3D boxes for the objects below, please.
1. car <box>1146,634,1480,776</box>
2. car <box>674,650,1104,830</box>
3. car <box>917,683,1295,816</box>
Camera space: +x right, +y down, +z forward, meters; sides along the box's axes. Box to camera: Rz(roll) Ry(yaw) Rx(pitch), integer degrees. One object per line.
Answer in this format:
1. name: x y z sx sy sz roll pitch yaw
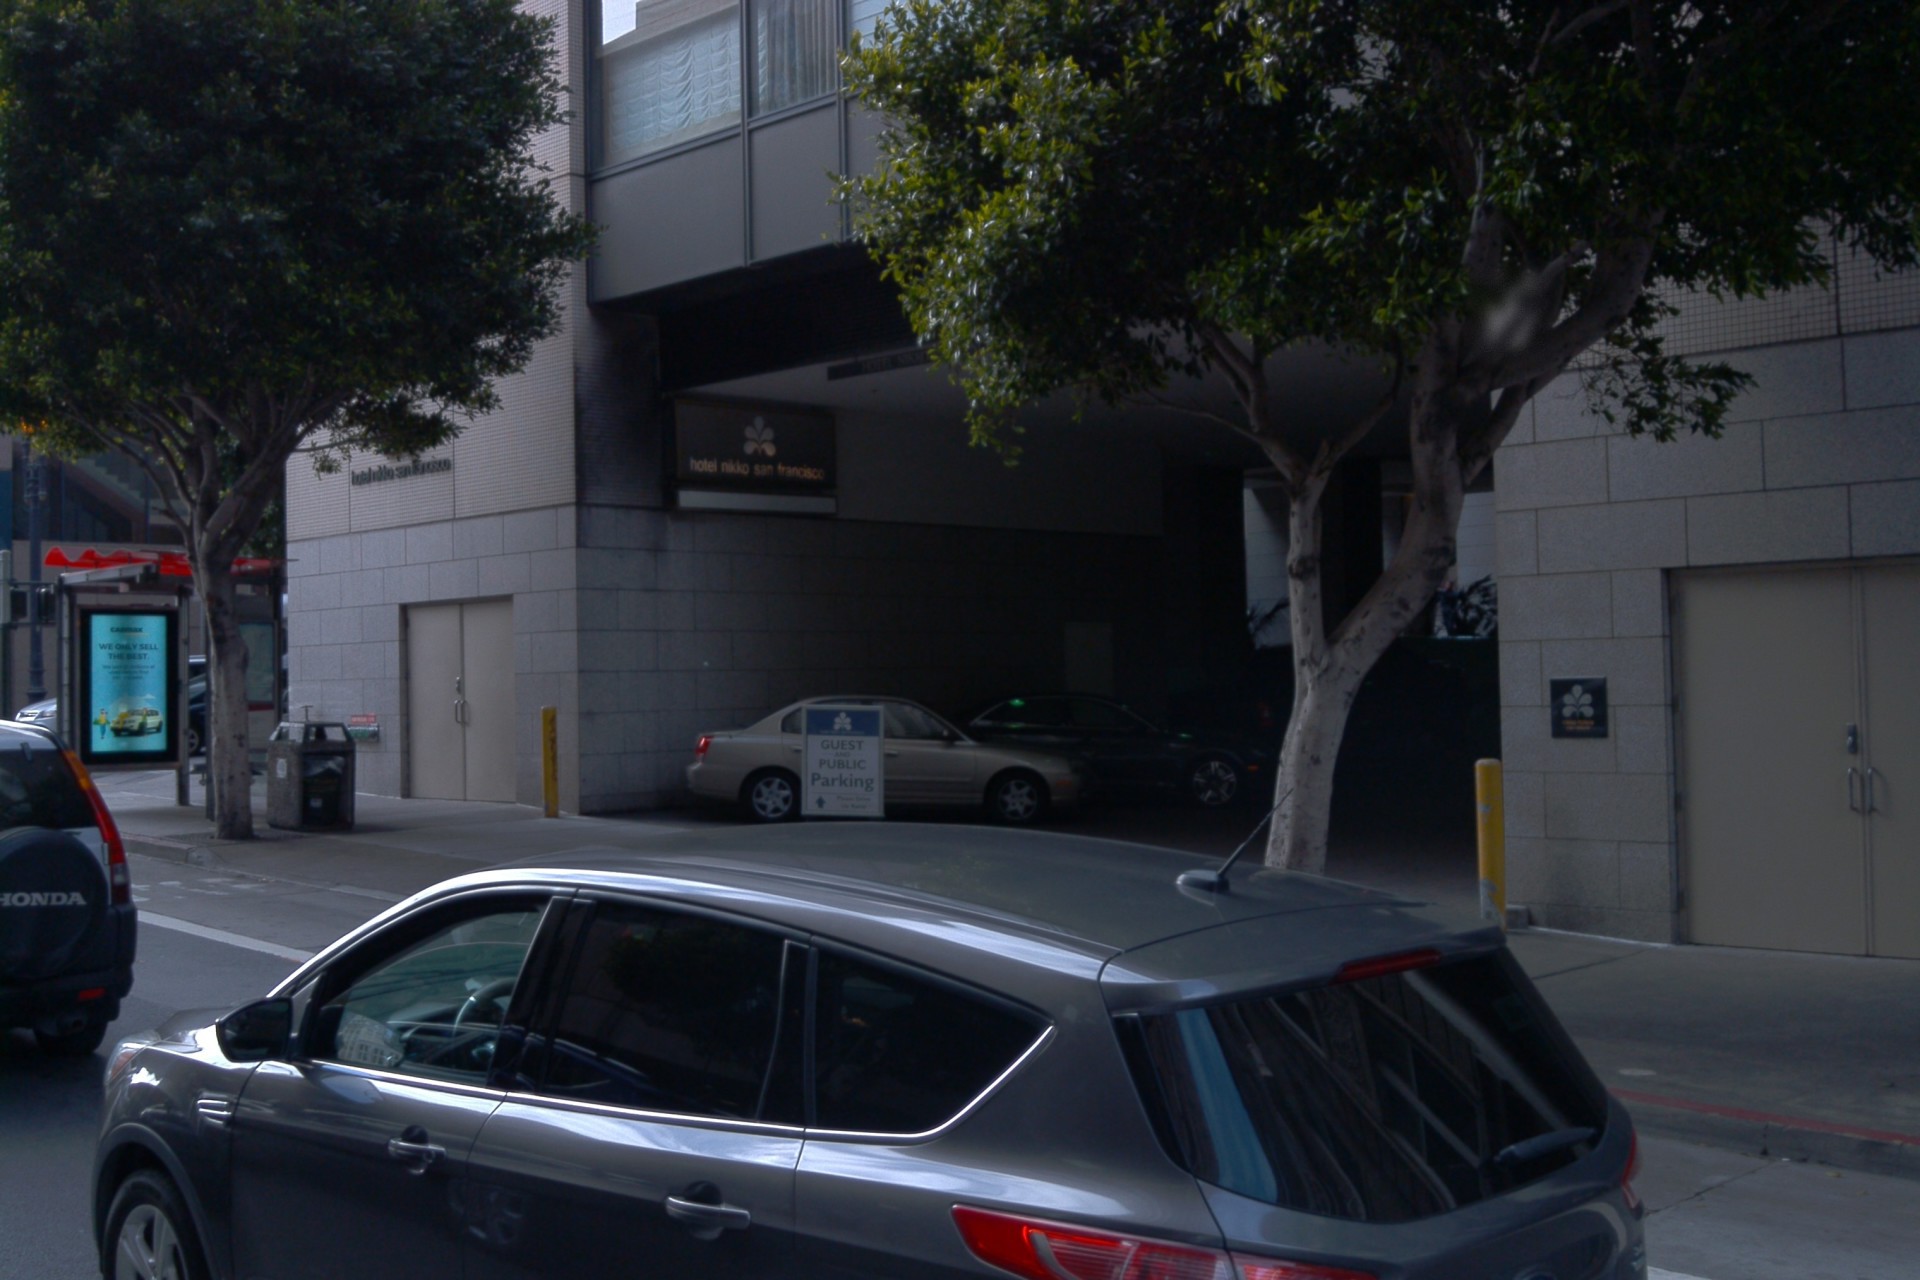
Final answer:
1. car: 5.577 0.914 31.956 5.637 1.970 2.175 -1 1 -44
2. car: -0.757 1.065 22.613 4.538 1.860 1.771 0 0 0
3. car: 1.725 1.310 25.125 4.429 1.500 1.858 0 0 1
